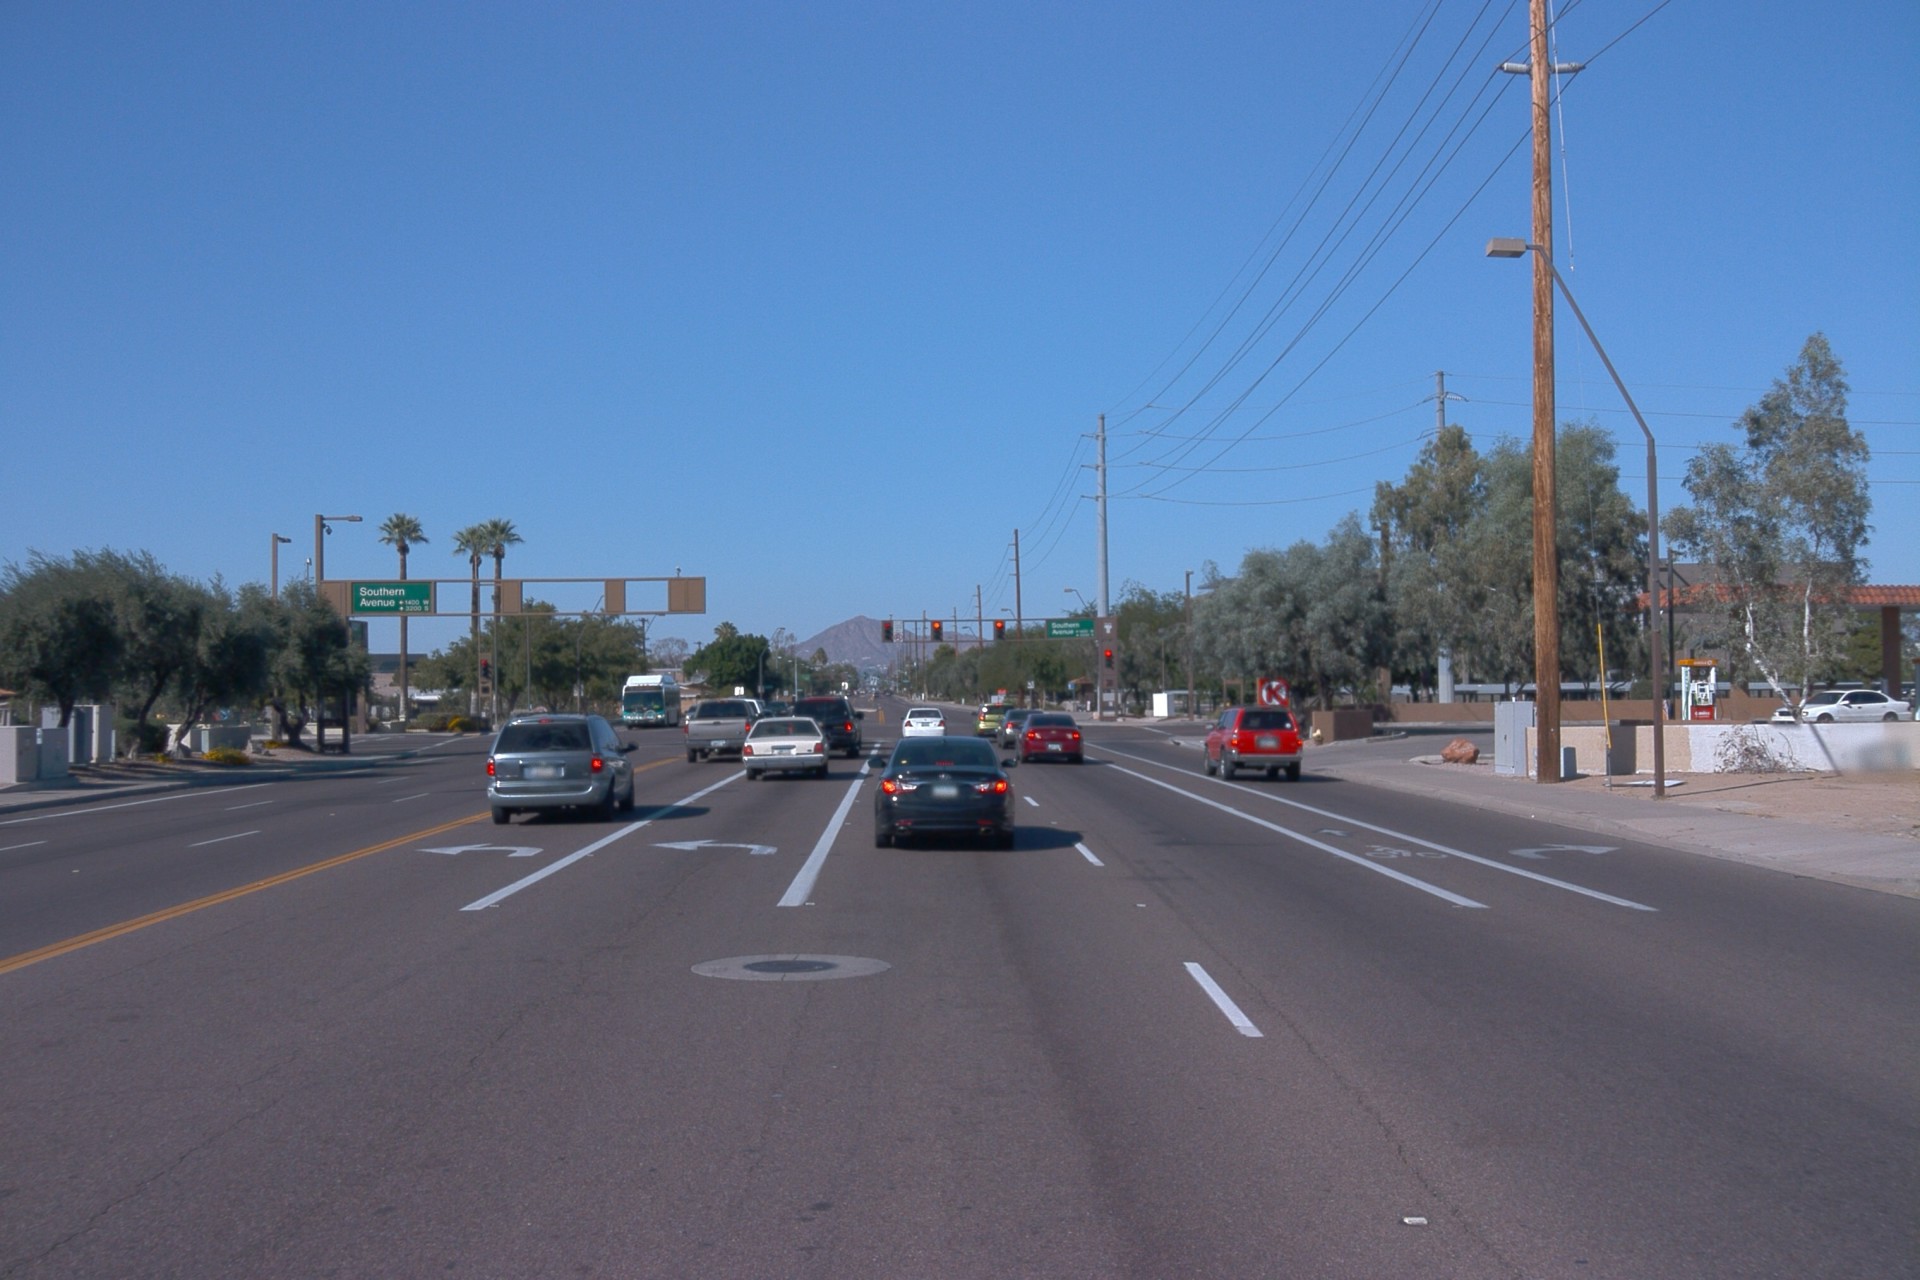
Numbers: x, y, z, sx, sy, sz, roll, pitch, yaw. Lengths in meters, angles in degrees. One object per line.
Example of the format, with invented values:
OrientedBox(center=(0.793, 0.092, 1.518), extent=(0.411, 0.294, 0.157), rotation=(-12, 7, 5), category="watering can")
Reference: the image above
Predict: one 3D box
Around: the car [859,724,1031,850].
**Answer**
OrientedBox(center=(-0.224, 1.948, 28.442), extent=(2.156, 1.470, 4.806), rotation=(0, -1, -1), category="car")

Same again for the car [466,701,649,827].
OrientedBox(center=(-6.564, 1.982, 34.357), extent=(2.263, 1.880, 4.995), rotation=(0, -1, -2), category="car")
